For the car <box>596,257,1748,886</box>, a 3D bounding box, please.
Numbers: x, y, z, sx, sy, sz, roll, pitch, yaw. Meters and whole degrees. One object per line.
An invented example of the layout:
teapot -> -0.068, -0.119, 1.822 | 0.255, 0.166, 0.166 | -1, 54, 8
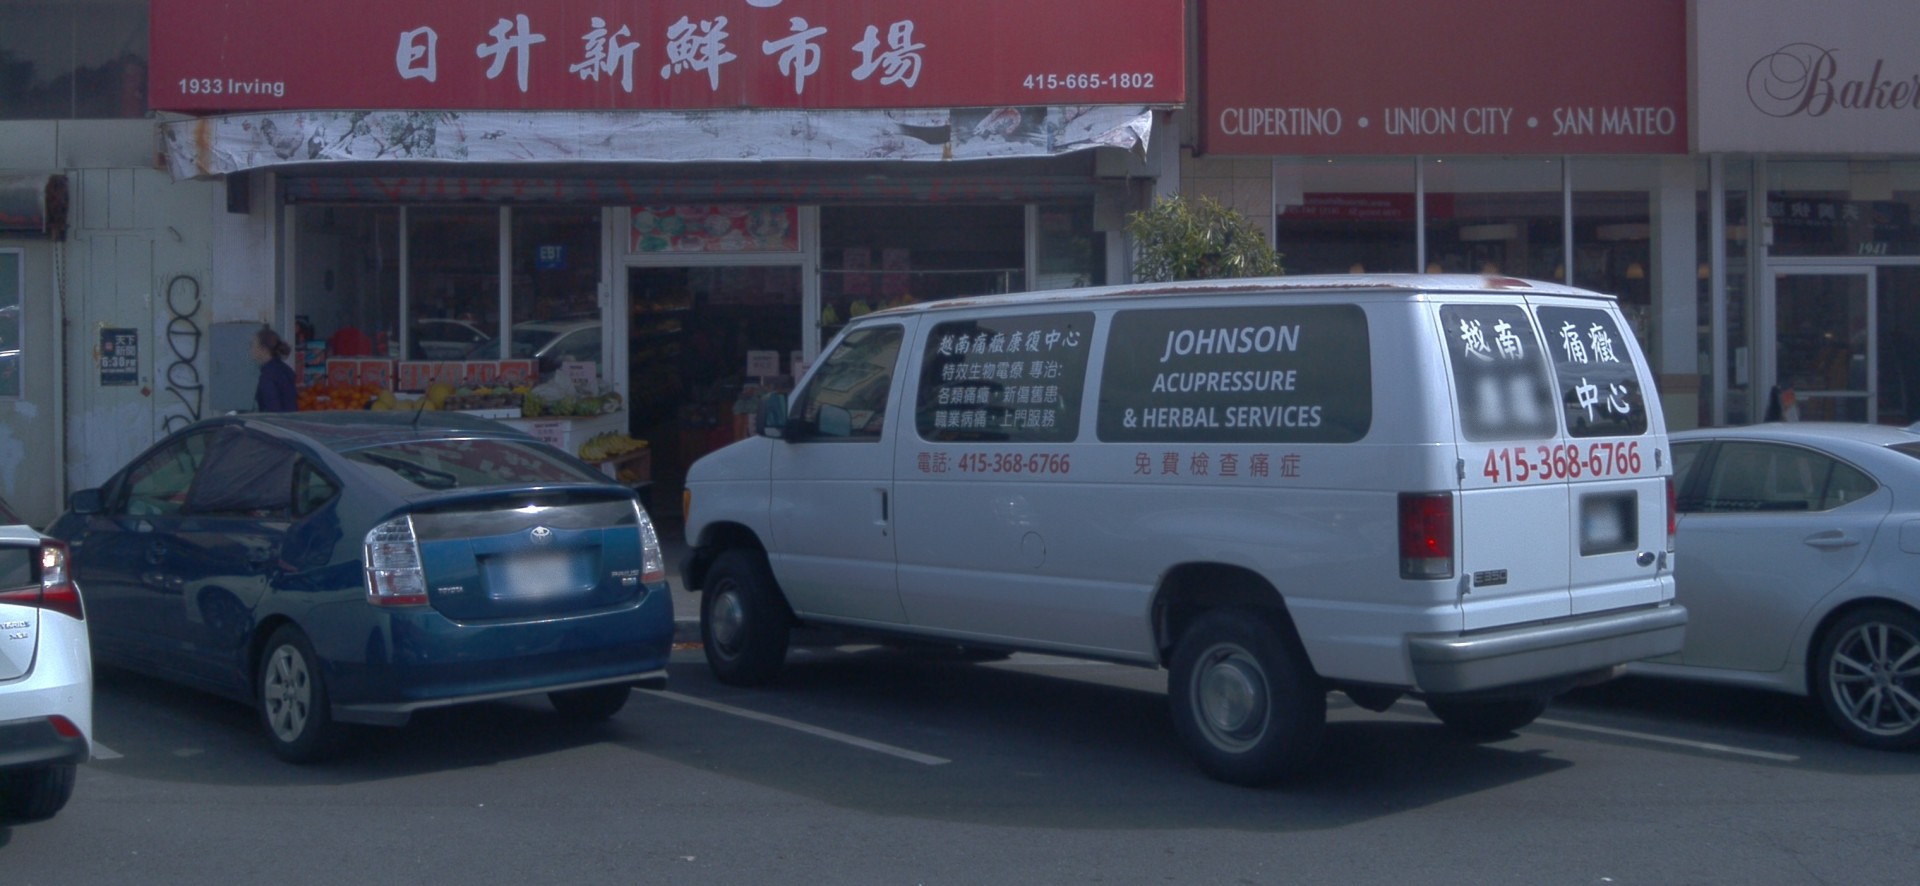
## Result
car -> 0.720, 0.243, 10.255 | 2.521, 2.227, 5.400 | -3, 6, -41

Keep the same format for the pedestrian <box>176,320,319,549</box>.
pedestrian -> -5.252, -0.087, 15.324 | 0.769, 1.611, 0.758 | 0, 1, 2
